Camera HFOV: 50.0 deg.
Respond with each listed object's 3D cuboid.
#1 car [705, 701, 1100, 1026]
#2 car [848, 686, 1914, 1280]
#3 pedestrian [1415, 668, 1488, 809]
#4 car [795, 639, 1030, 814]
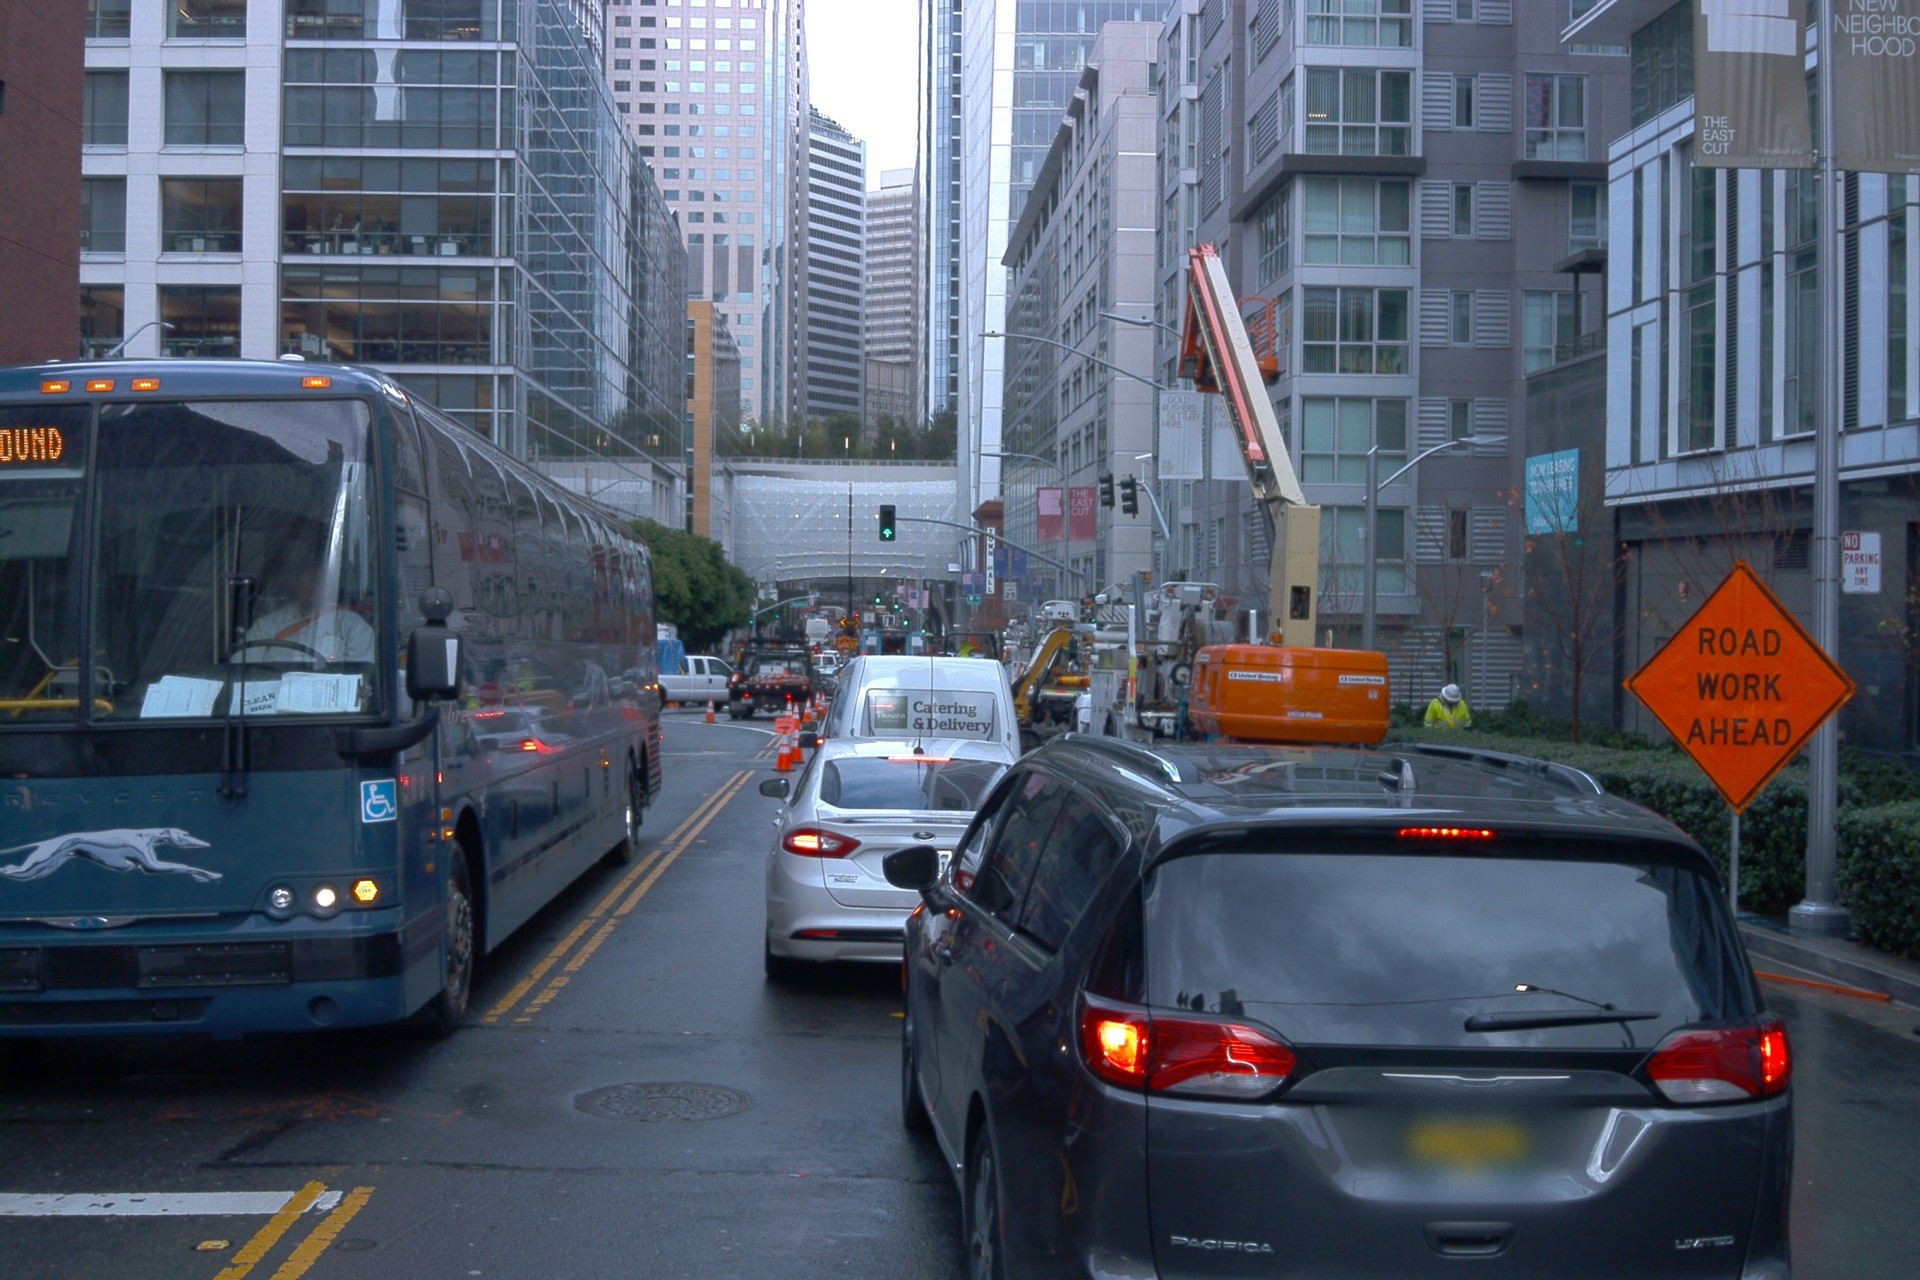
[{"bbox_3d":[-0.377,1.308,13.826,2.164,1.580,4.901,1,1,-1],"label":"car"},{"bbox_3d":[0.803,1.113,6.811,2.058,1.750,4.787,1,1,-6],"label":"car"},{"bbox_3d":[6.921,1.374,29.037,0.821,1.949,0.618,1,0,-3],"label":"pedestrian"},{"bbox_3d":[-0.540,0.748,19.507,1.860,1.470,3.431,1,1,-7],"label":"car"}]
